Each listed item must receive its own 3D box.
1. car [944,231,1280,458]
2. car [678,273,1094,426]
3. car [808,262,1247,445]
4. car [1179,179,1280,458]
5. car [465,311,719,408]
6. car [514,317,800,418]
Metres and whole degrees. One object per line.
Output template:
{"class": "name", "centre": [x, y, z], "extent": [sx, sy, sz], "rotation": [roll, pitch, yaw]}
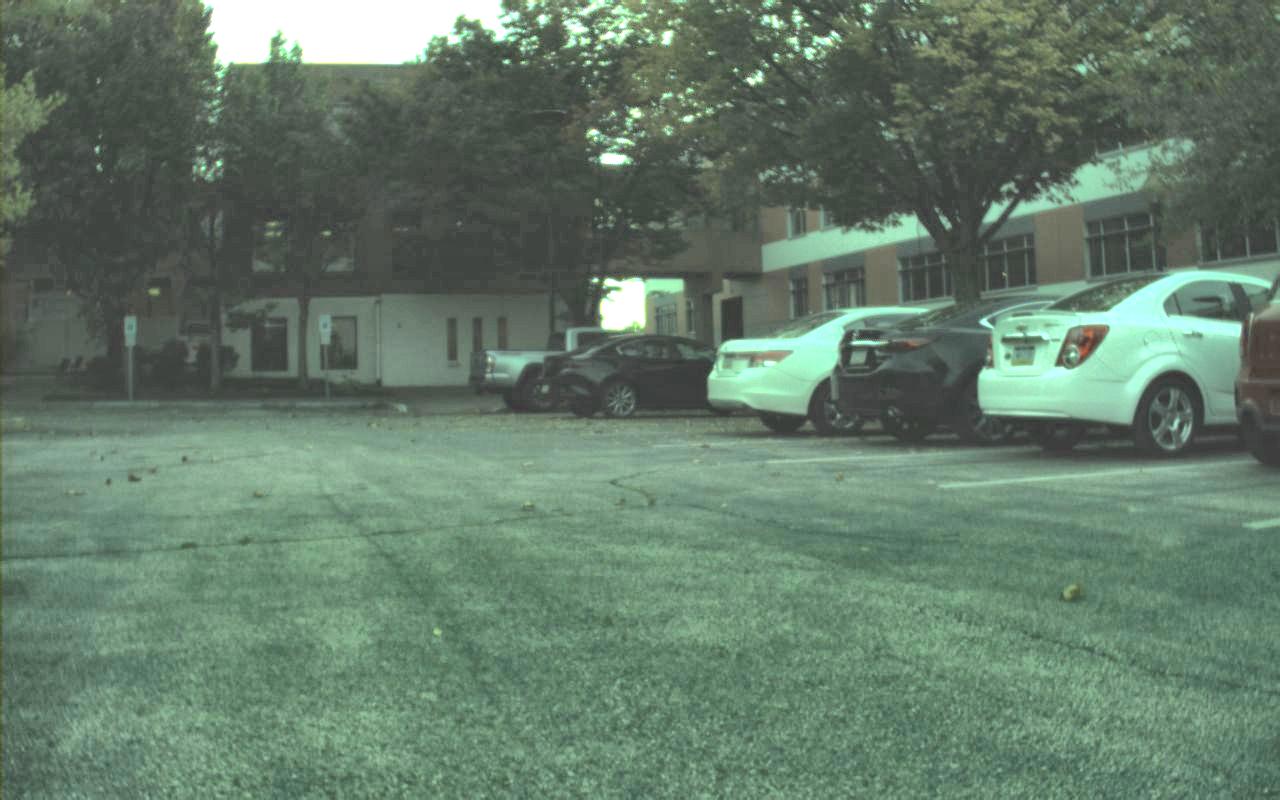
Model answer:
{"class": "car", "centre": [4.907, -0.406, 9.988], "extent": [4.406, 1.597, 1.906], "rotation": [0, 1, -16]}
{"class": "car", "centre": [2.919, -0.548, 14.591], "extent": [4.600, 1.594, 1.947], "rotation": [0, 1, -14]}
{"class": "car", "centre": [4.055, -0.426, 12.304], "extent": [4.373, 1.580, 1.914], "rotation": [0, 1, -18]}
{"class": "car", "centre": [6.001, -0.462, 7.583], "extent": [4.355, 1.580, 1.909], "rotation": [0, 1, -16]}
{"class": "car", "centre": [-1.047, -0.836, 26.712], "extent": [5.020, 1.917, 2.094], "rotation": [0, 1, -20]}
{"class": "car", "centre": [0.291, -0.545, 21.867], "extent": [4.579, 1.609, 1.972], "rotation": [0, 1, -23]}
